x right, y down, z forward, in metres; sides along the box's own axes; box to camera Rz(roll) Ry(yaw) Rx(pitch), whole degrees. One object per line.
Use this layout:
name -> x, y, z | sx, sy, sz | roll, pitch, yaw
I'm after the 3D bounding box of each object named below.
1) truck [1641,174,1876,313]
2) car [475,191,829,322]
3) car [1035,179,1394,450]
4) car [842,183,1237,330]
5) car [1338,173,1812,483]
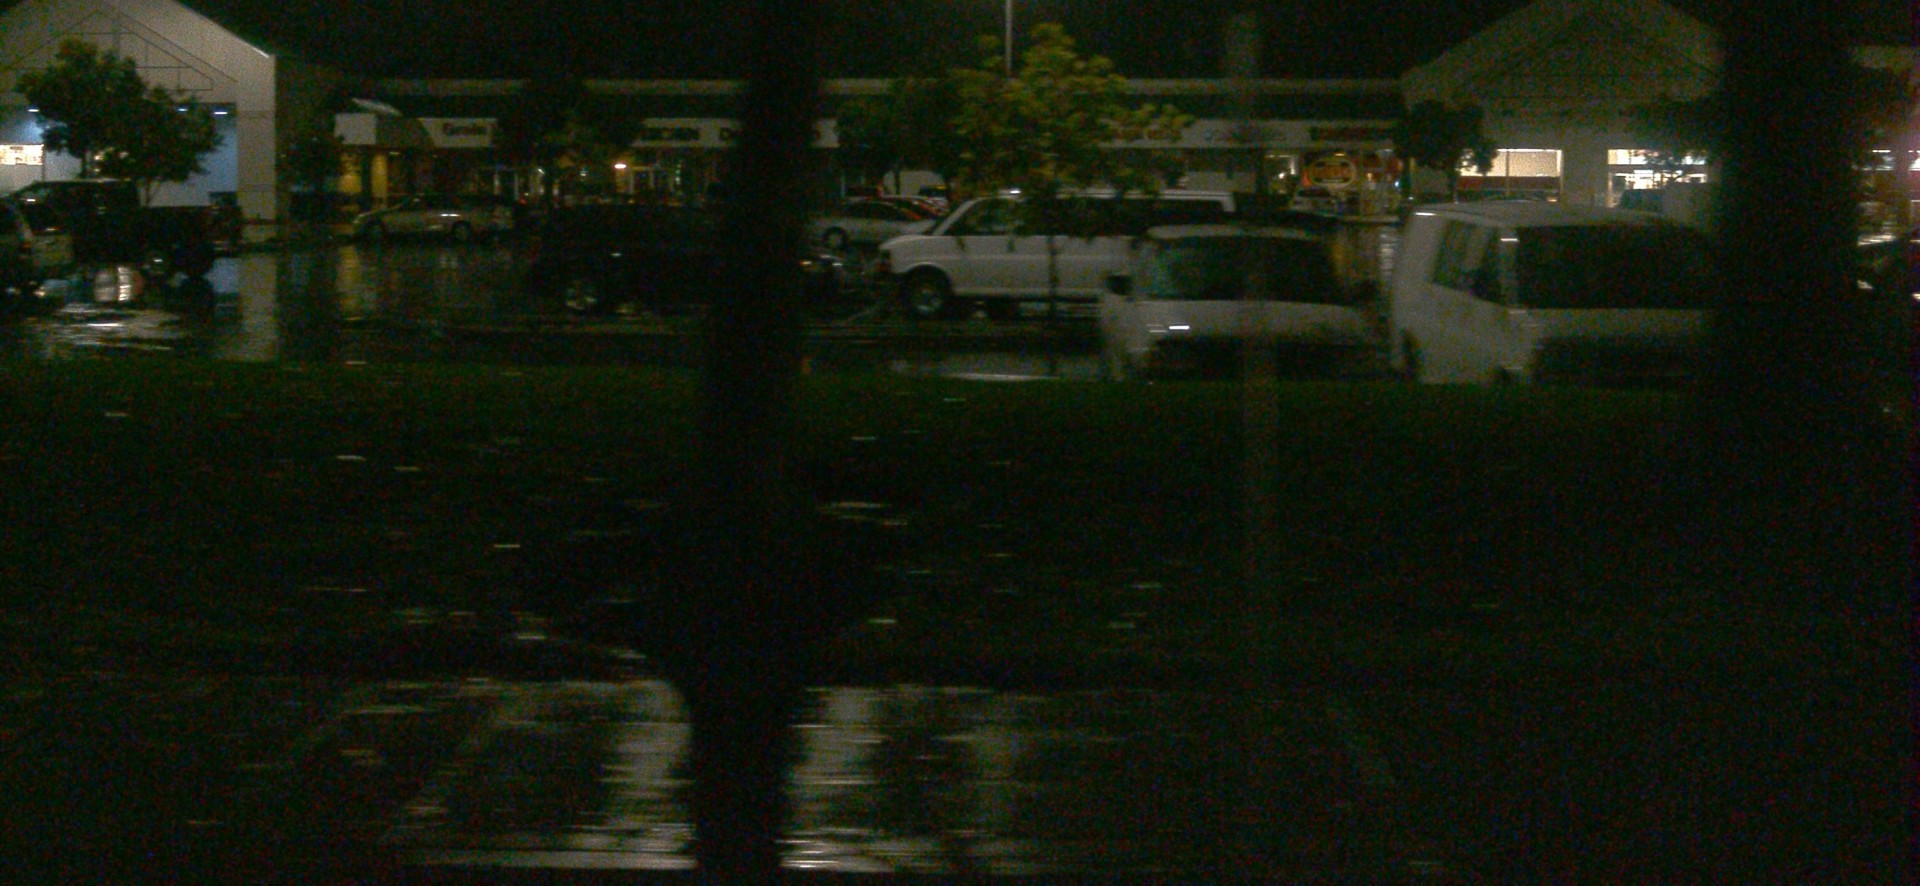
truck -> 14.379, -3.612, 37.634 | 3.476, 2.418, 2.331 | 1, 2, 5
car -> -4.877, -3.004, 33.423 | 5.250, 1.998, 2.177 | 1, 3, 4
car -> 1.895, -1.166, 17.459 | 2.344, 1.884, 5.652 | 0, 5, 0
car -> 1.299, -2.961, 32.917 | 6.041, 2.209, 2.086 | 1, 2, 6
car -> 4.885, -1.077, 17.593 | 2.383, 2.183, 5.604 | 0, 5, 0
